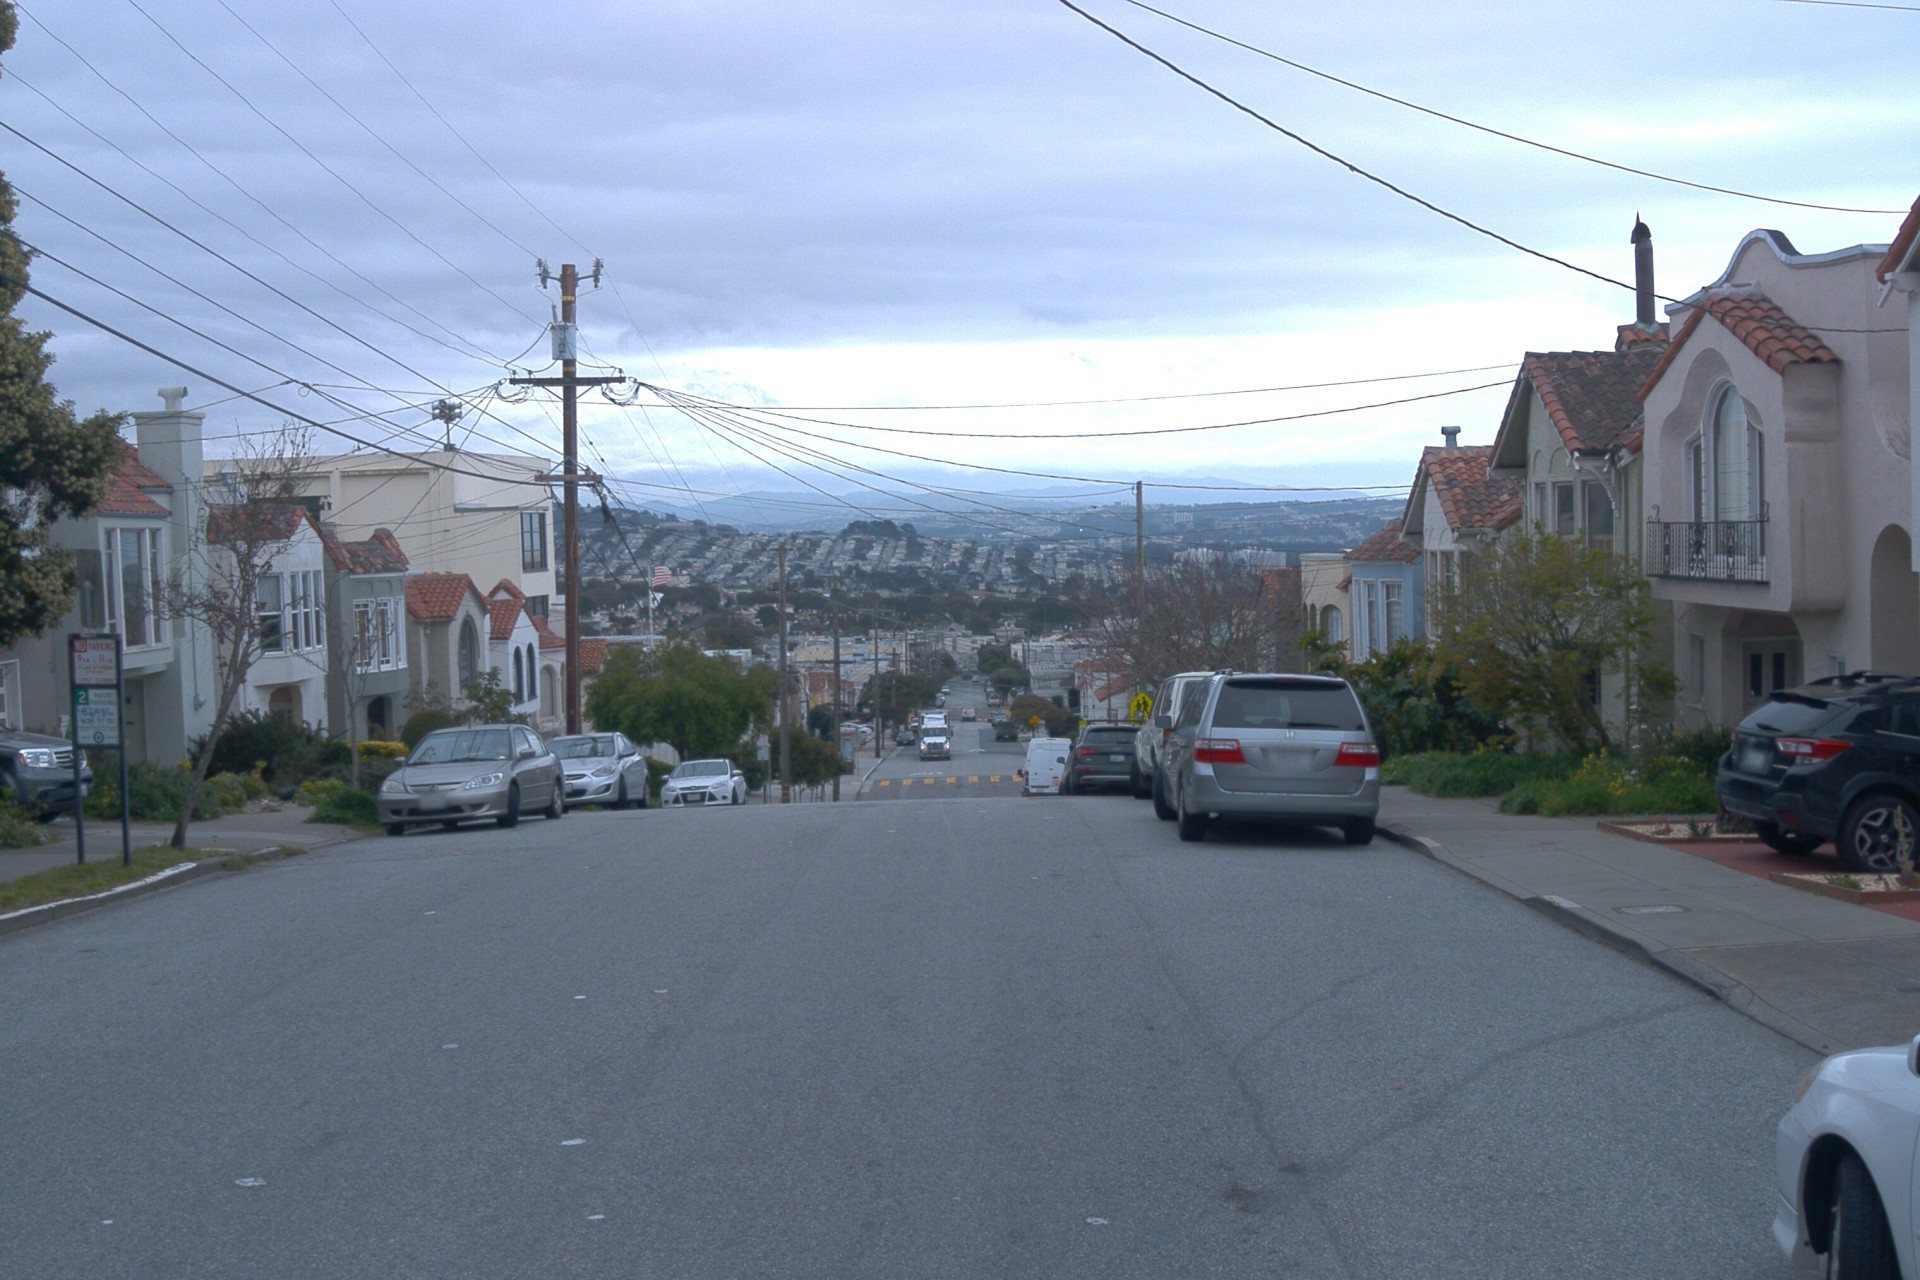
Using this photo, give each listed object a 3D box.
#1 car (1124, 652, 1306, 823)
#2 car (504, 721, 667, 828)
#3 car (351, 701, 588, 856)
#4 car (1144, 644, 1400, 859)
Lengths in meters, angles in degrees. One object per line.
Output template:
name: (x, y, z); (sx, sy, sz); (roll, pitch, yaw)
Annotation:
car: (3.470, 1.268, 28.817); (1.936, 2.170, 4.666); (0, 0, -1)
car: (-6.576, 2.336, 36.657); (2.061, 1.630, 4.232); (0, 0, 1)
car: (-6.551, 1.800, 28.058); (2.152, 1.800, 4.566); (0, 0, 0)
car: (3.230, 1.077, 22.400); (2.082, 2.060, 5.186); (0, 0, 1)
